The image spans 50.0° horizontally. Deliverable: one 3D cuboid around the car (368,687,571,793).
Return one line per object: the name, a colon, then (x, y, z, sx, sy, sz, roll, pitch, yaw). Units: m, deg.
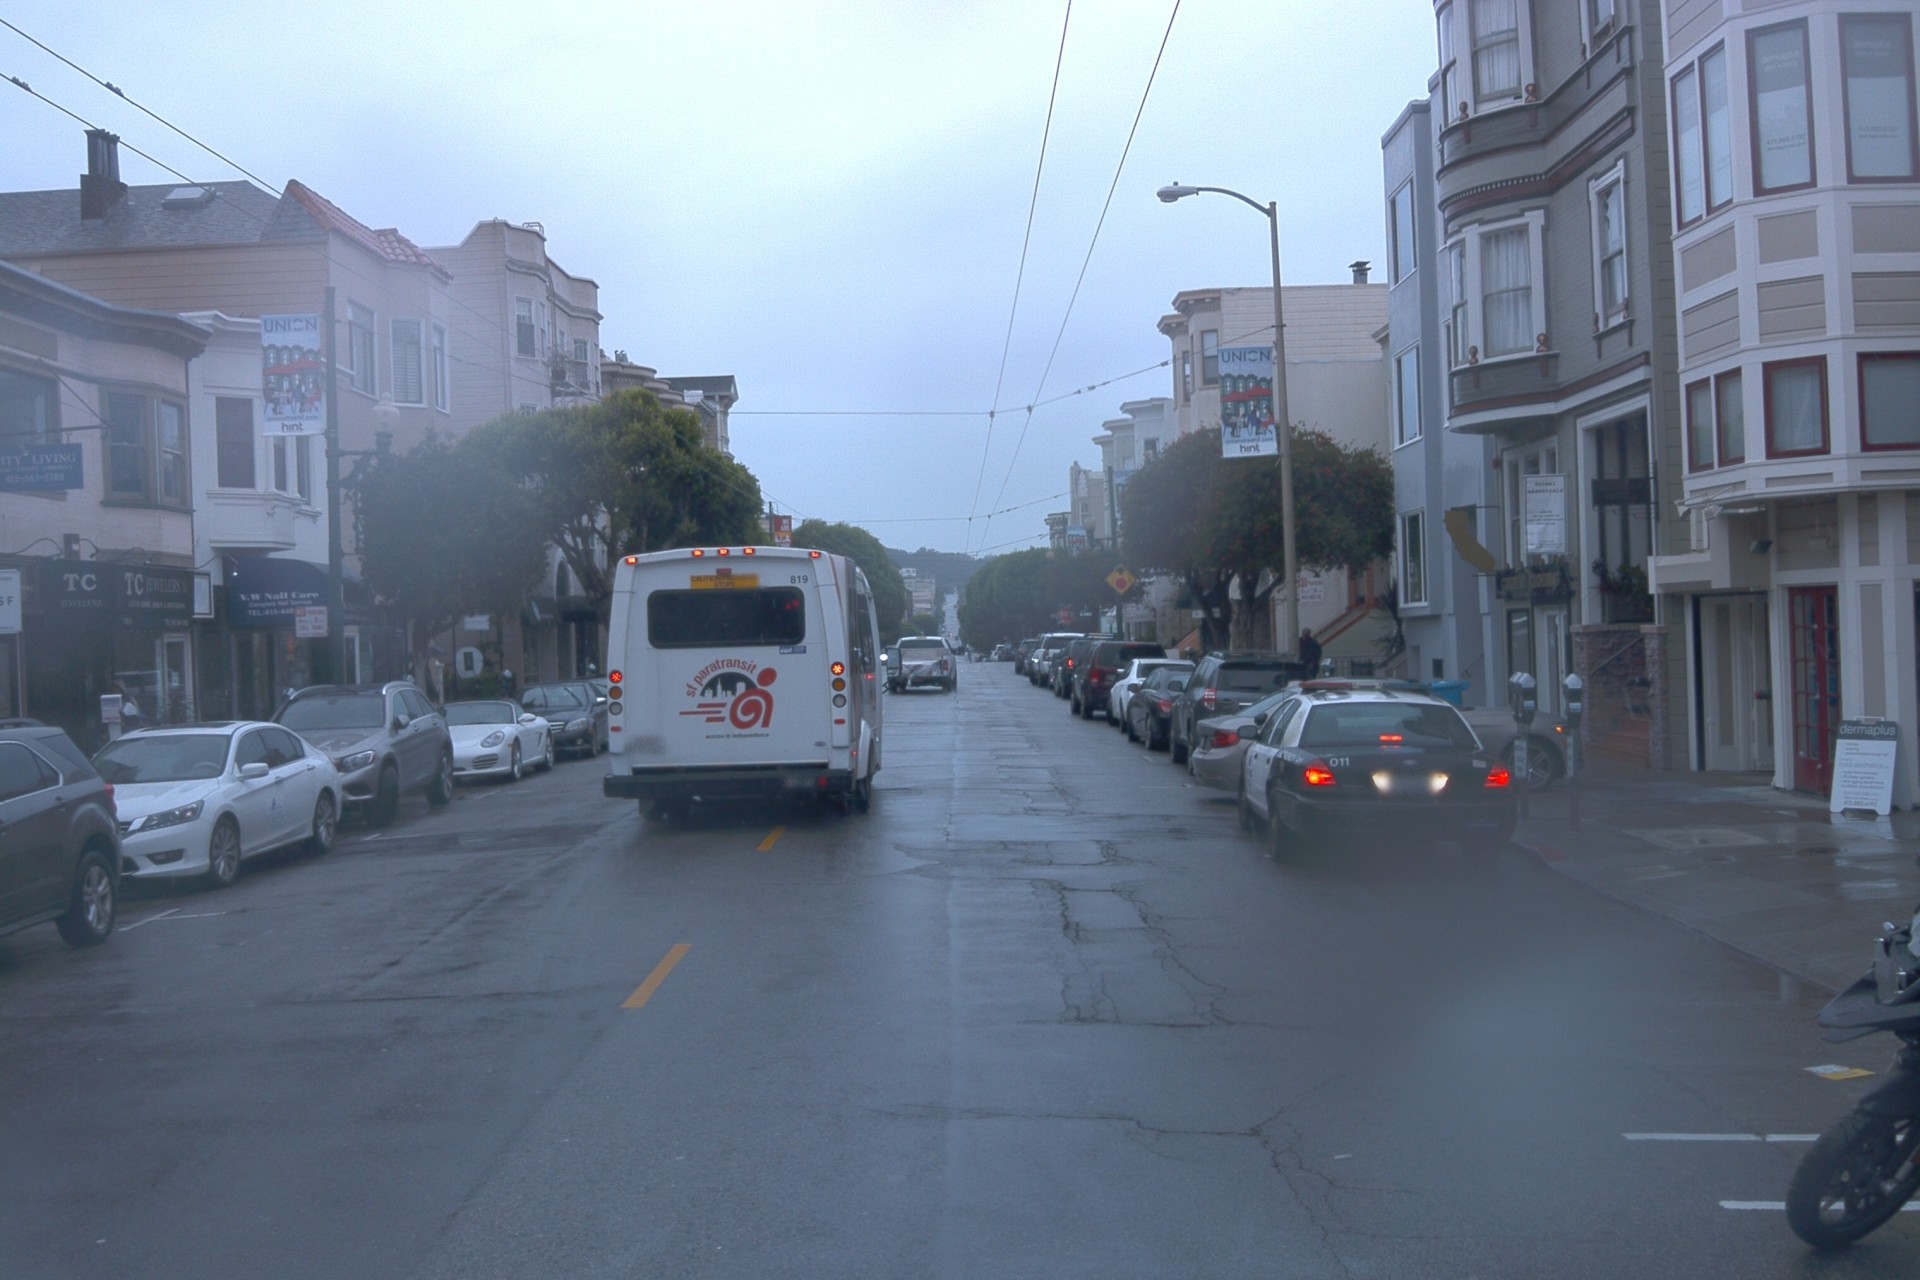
car: (-7.538, 1.499, 32.143, 2.114, 1.370, 4.598, 1, 1, -1)

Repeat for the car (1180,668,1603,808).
car: (4.902, 1.105, 23.860, 4.459, 1.470, 1.876, 1, 1, -1)

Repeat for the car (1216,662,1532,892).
car: (3.631, 1.121, 19.124, 2.108, 1.690, 5.363, 1, 1, 3)

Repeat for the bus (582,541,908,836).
bus: (-2.188, 0.435, 23.474, 2.788, 2.850, 6.704, 1, 1, 2)

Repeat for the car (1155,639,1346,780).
car: (4.019, 0.908, 29.219, 2.116, 1.790, 4.480, 1, 1, 1)

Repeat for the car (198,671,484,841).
car: (-7.549, 1.345, 25.692, 2.149, 1.760, 4.917, 1, 1, -1)
